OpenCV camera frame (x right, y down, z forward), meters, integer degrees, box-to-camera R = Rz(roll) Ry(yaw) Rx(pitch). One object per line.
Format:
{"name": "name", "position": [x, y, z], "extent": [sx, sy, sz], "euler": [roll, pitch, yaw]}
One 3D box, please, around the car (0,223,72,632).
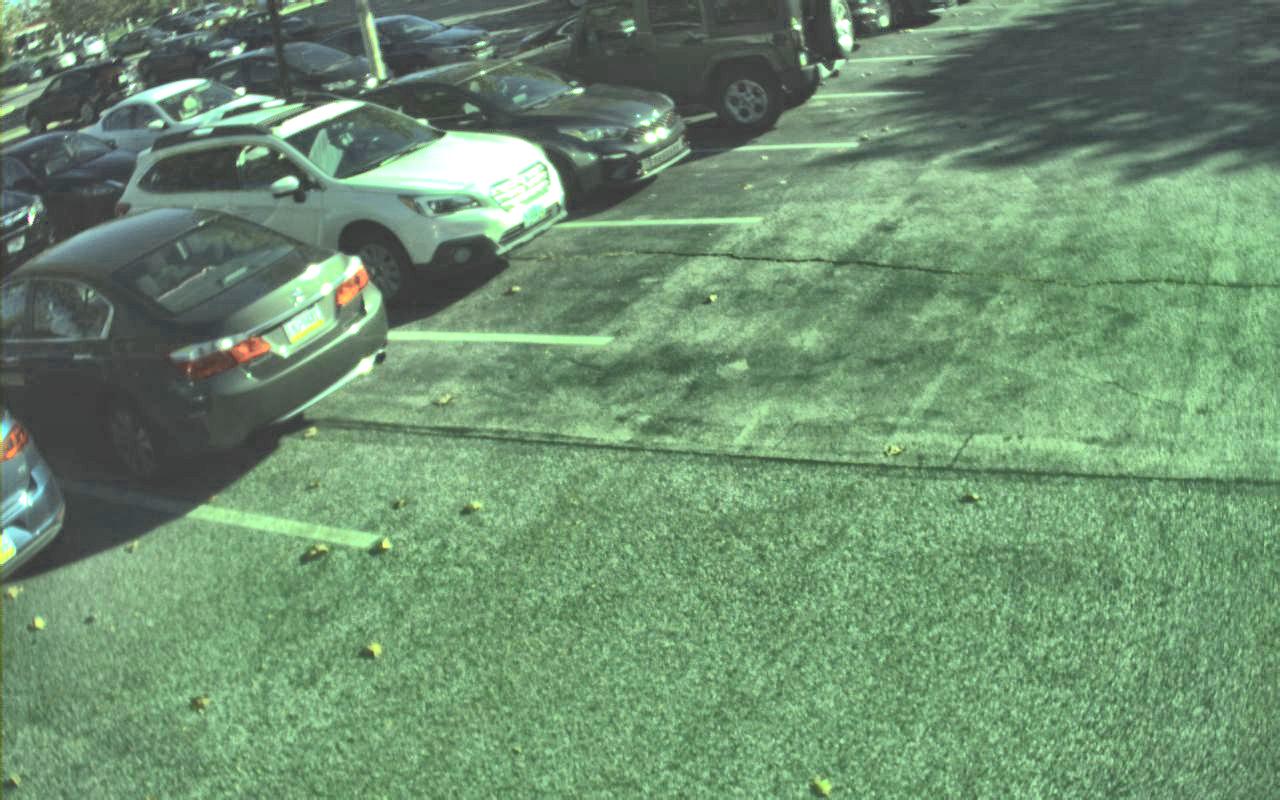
{"name": "car", "position": [-5.634, -0.094, 6.455], "extent": [4.252, 1.606, 1.922], "euler": [7, 18, 26]}

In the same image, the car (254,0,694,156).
{"name": "car", "position": [-1.853, -3.451, 12.771], "extent": [4.393, 1.559, 1.943], "euler": [8, 19, 29]}

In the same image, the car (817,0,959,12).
{"name": "car", "position": [4.585, -7.815, 21.459], "extent": [1.931, 1.594, 4.373], "euler": [5, 18, 19]}

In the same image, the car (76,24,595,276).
{"name": "car", "position": [-2.966, -2.339, 10.840], "extent": [4.753, 1.789, 2.042], "euler": [9, 19, 29]}

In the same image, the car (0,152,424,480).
{"name": "car", "position": [-3.847, -0.871, 8.396], "extent": [4.480, 1.583, 1.955], "euler": [10, 19, 32]}

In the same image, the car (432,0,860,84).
{"name": "car", "position": [0.047, -4.727, 14.513], "extent": [4.707, 1.841, 2.058], "euler": [7, 18, 25]}
